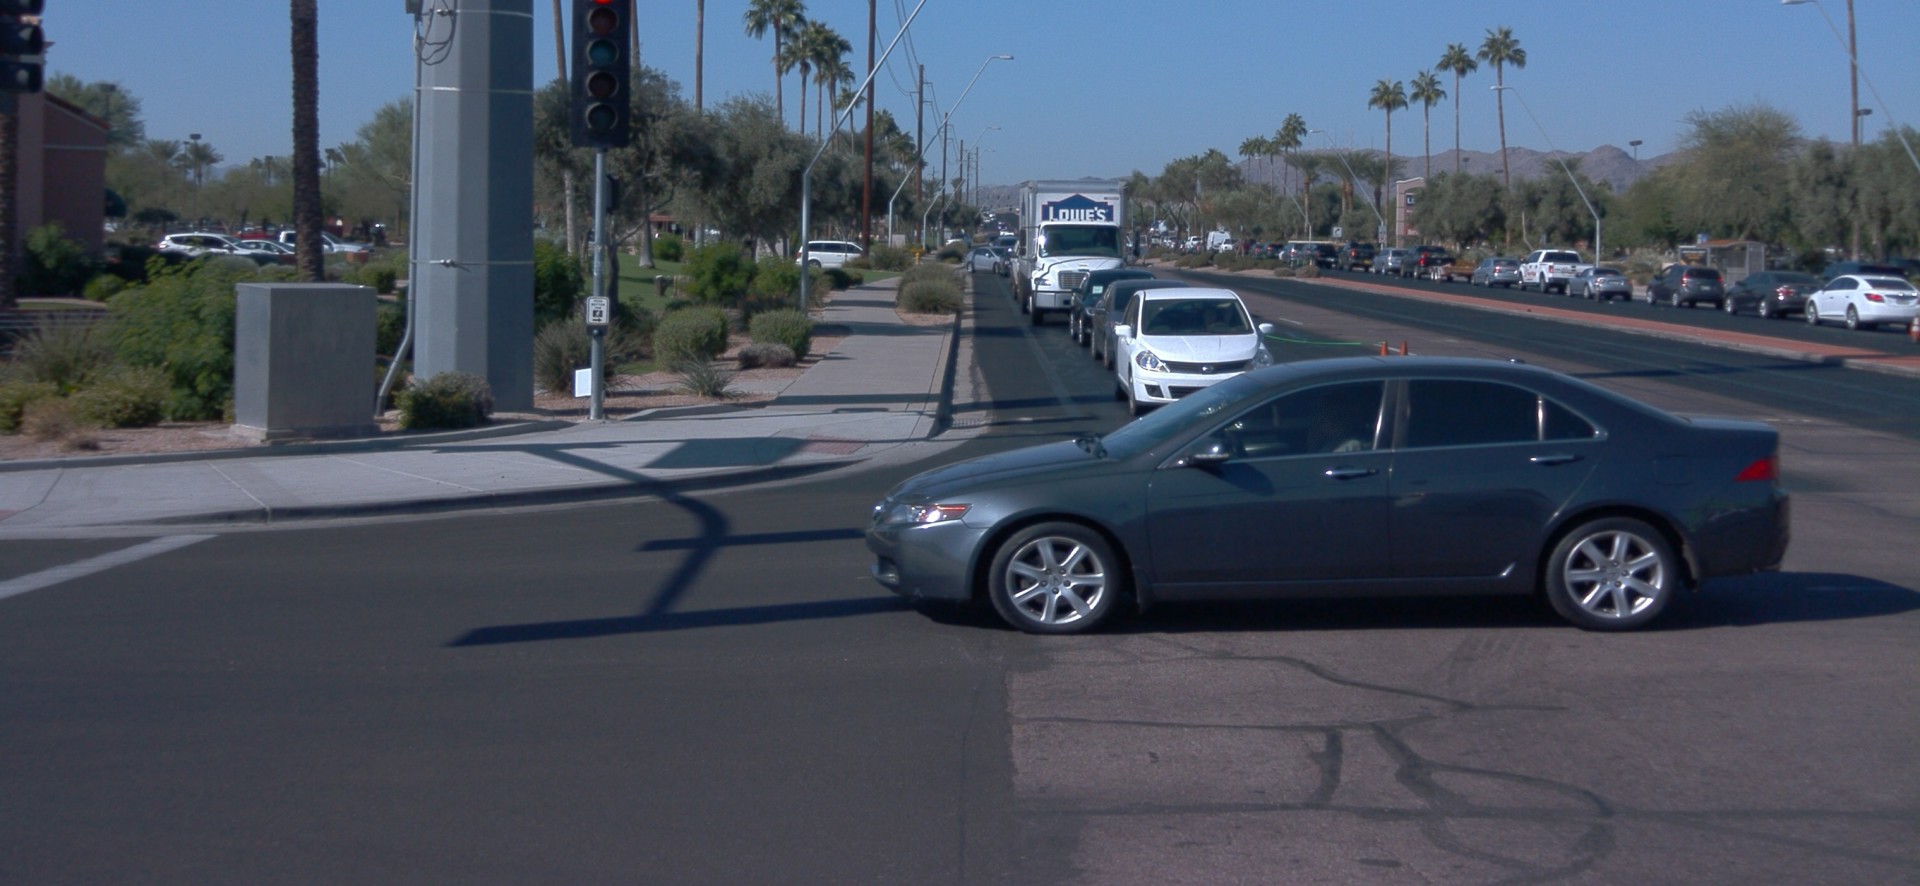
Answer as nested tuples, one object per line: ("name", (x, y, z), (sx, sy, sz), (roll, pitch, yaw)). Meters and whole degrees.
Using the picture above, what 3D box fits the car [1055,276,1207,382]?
("car", (2.810, -1.981, 35.062), (2.102, 1.513, 4.446), (1, 6, -1))

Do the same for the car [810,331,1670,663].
("car", (1.490, 0.234, 12.007), (4.542, 1.586, 2.006), (1, 4, 0))

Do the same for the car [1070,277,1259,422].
("car", (2.547, -1.283, 26.831), (1.976, 1.563, 4.483), (1, 6, 0))
